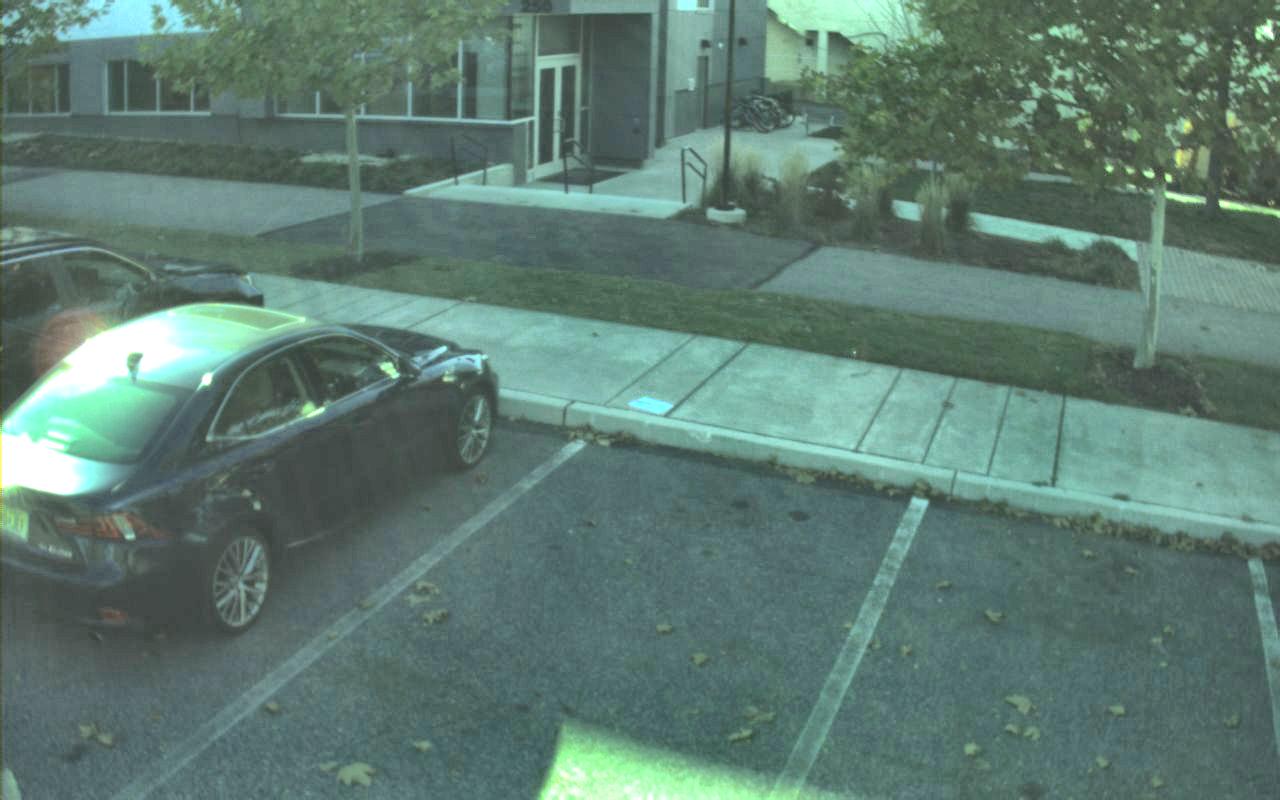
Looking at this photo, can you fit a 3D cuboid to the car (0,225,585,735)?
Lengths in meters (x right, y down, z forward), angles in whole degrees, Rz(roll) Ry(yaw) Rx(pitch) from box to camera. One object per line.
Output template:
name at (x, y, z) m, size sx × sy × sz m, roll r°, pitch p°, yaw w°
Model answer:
car at (-2.146, 0.108, 7.633) m, size 1.965 × 1.618 × 4.575 m, roll 5°, pitch 18°, yaw 20°

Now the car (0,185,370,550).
car at (-4.254, -0.522, 9.129) m, size 1.986 × 1.641 × 4.557 m, roll 6°, pitch 18°, yaw 24°
